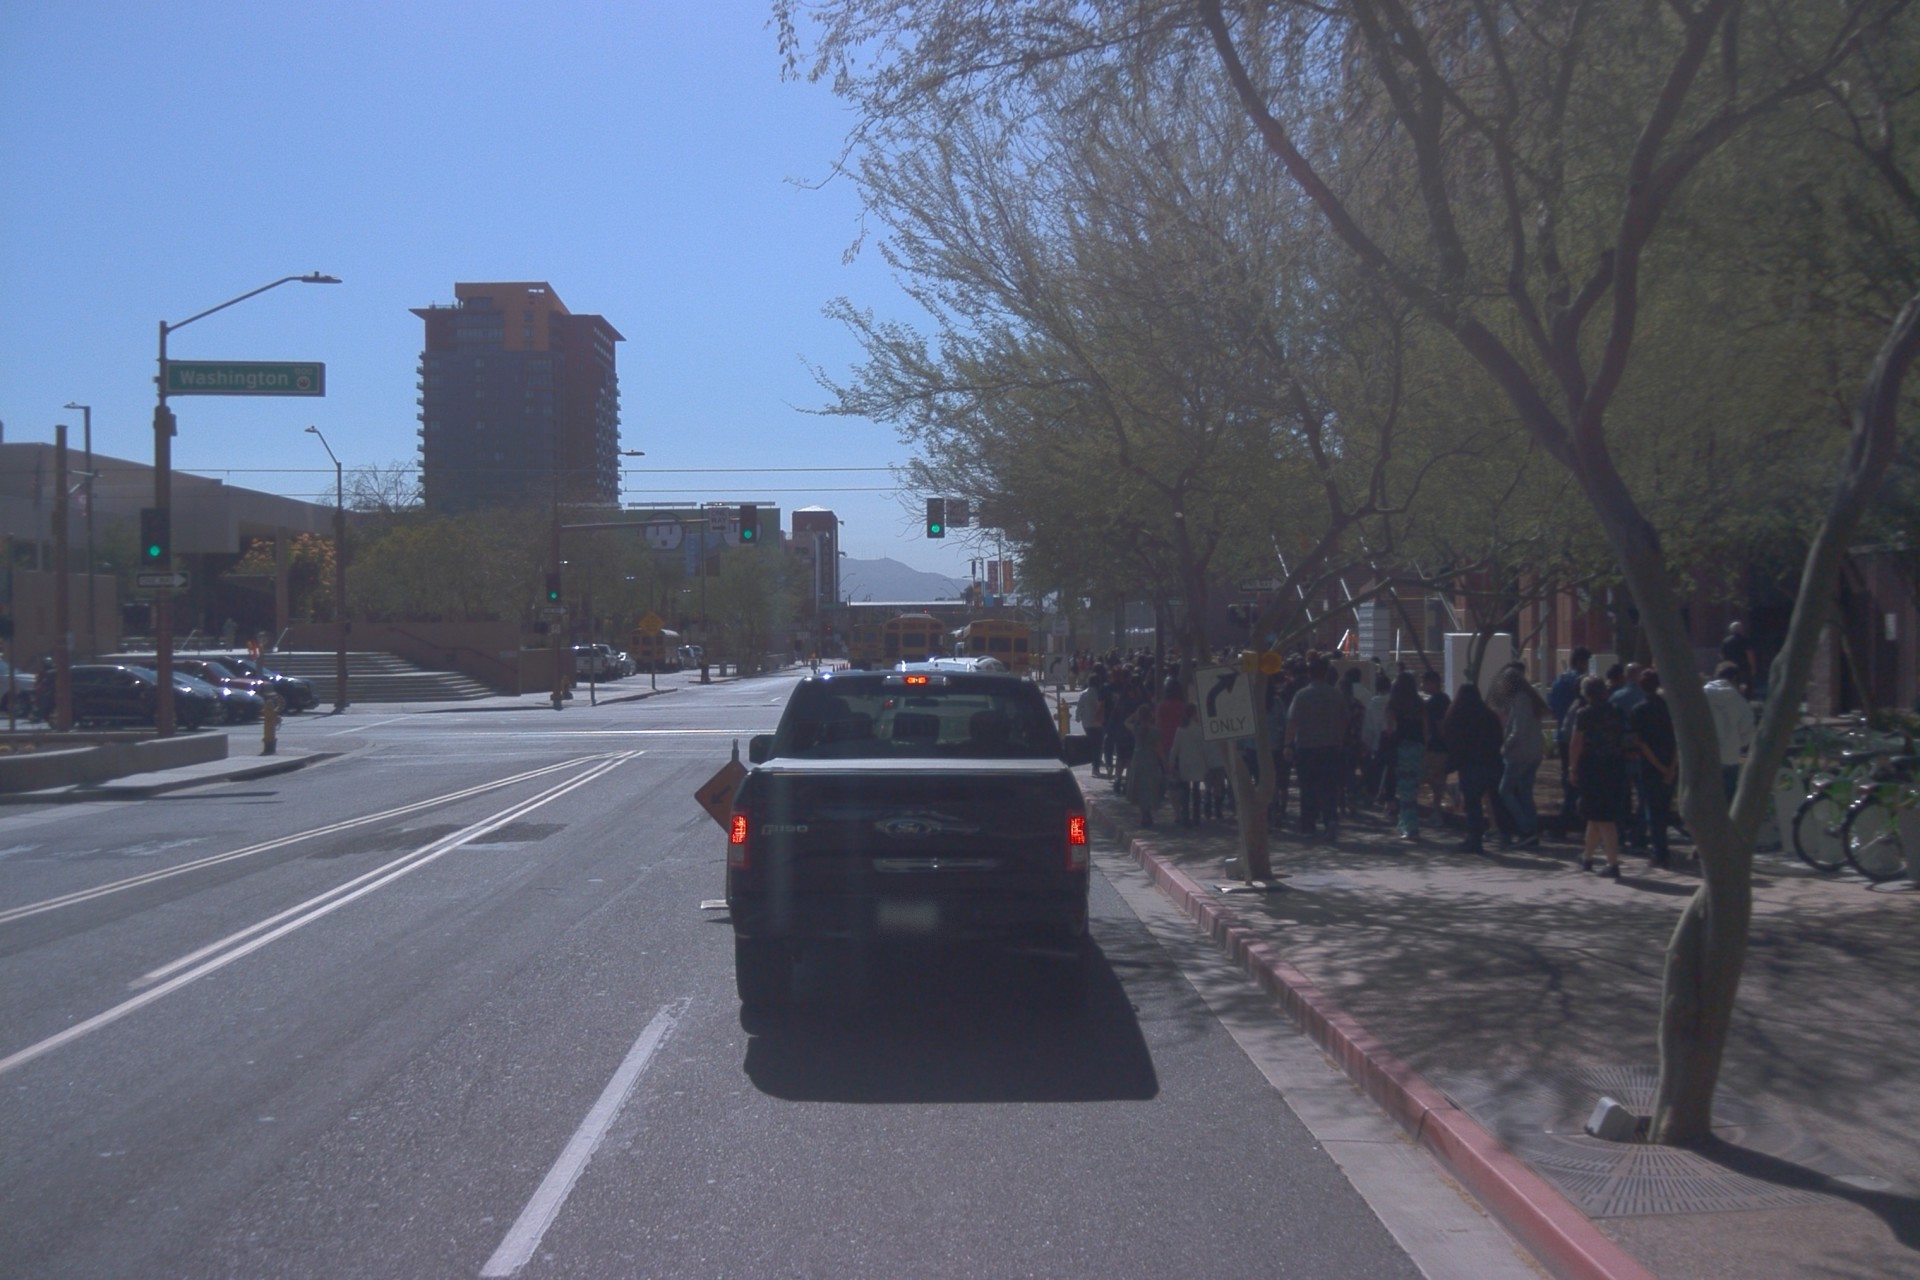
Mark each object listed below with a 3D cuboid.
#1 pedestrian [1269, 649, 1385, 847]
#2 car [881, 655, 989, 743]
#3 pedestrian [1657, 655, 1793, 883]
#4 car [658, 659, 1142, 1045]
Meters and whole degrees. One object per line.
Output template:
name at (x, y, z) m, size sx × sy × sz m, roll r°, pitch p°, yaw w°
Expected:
pedestrian at (3.606, 1.042, 20.491) m, size 0.959 × 1.900 × 0.880 m, roll 0°, pitch 0°, yaw -1°
car at (-0.380, 0.977, 36.085) m, size 1.753 × 1.430 × 4.270 m, roll 0°, pitch 0°, yaw 1°
pedestrian at (6.481, 1.074, 17.646) m, size 0.835 × 1.880 × 0.792 m, roll 0°, pitch 0°, yaw -2°
car at (-0.285, 1.116, 13.392) m, size 2.487 × 1.950 × 5.329 m, roll 0°, pitch 0°, yaw 1°
